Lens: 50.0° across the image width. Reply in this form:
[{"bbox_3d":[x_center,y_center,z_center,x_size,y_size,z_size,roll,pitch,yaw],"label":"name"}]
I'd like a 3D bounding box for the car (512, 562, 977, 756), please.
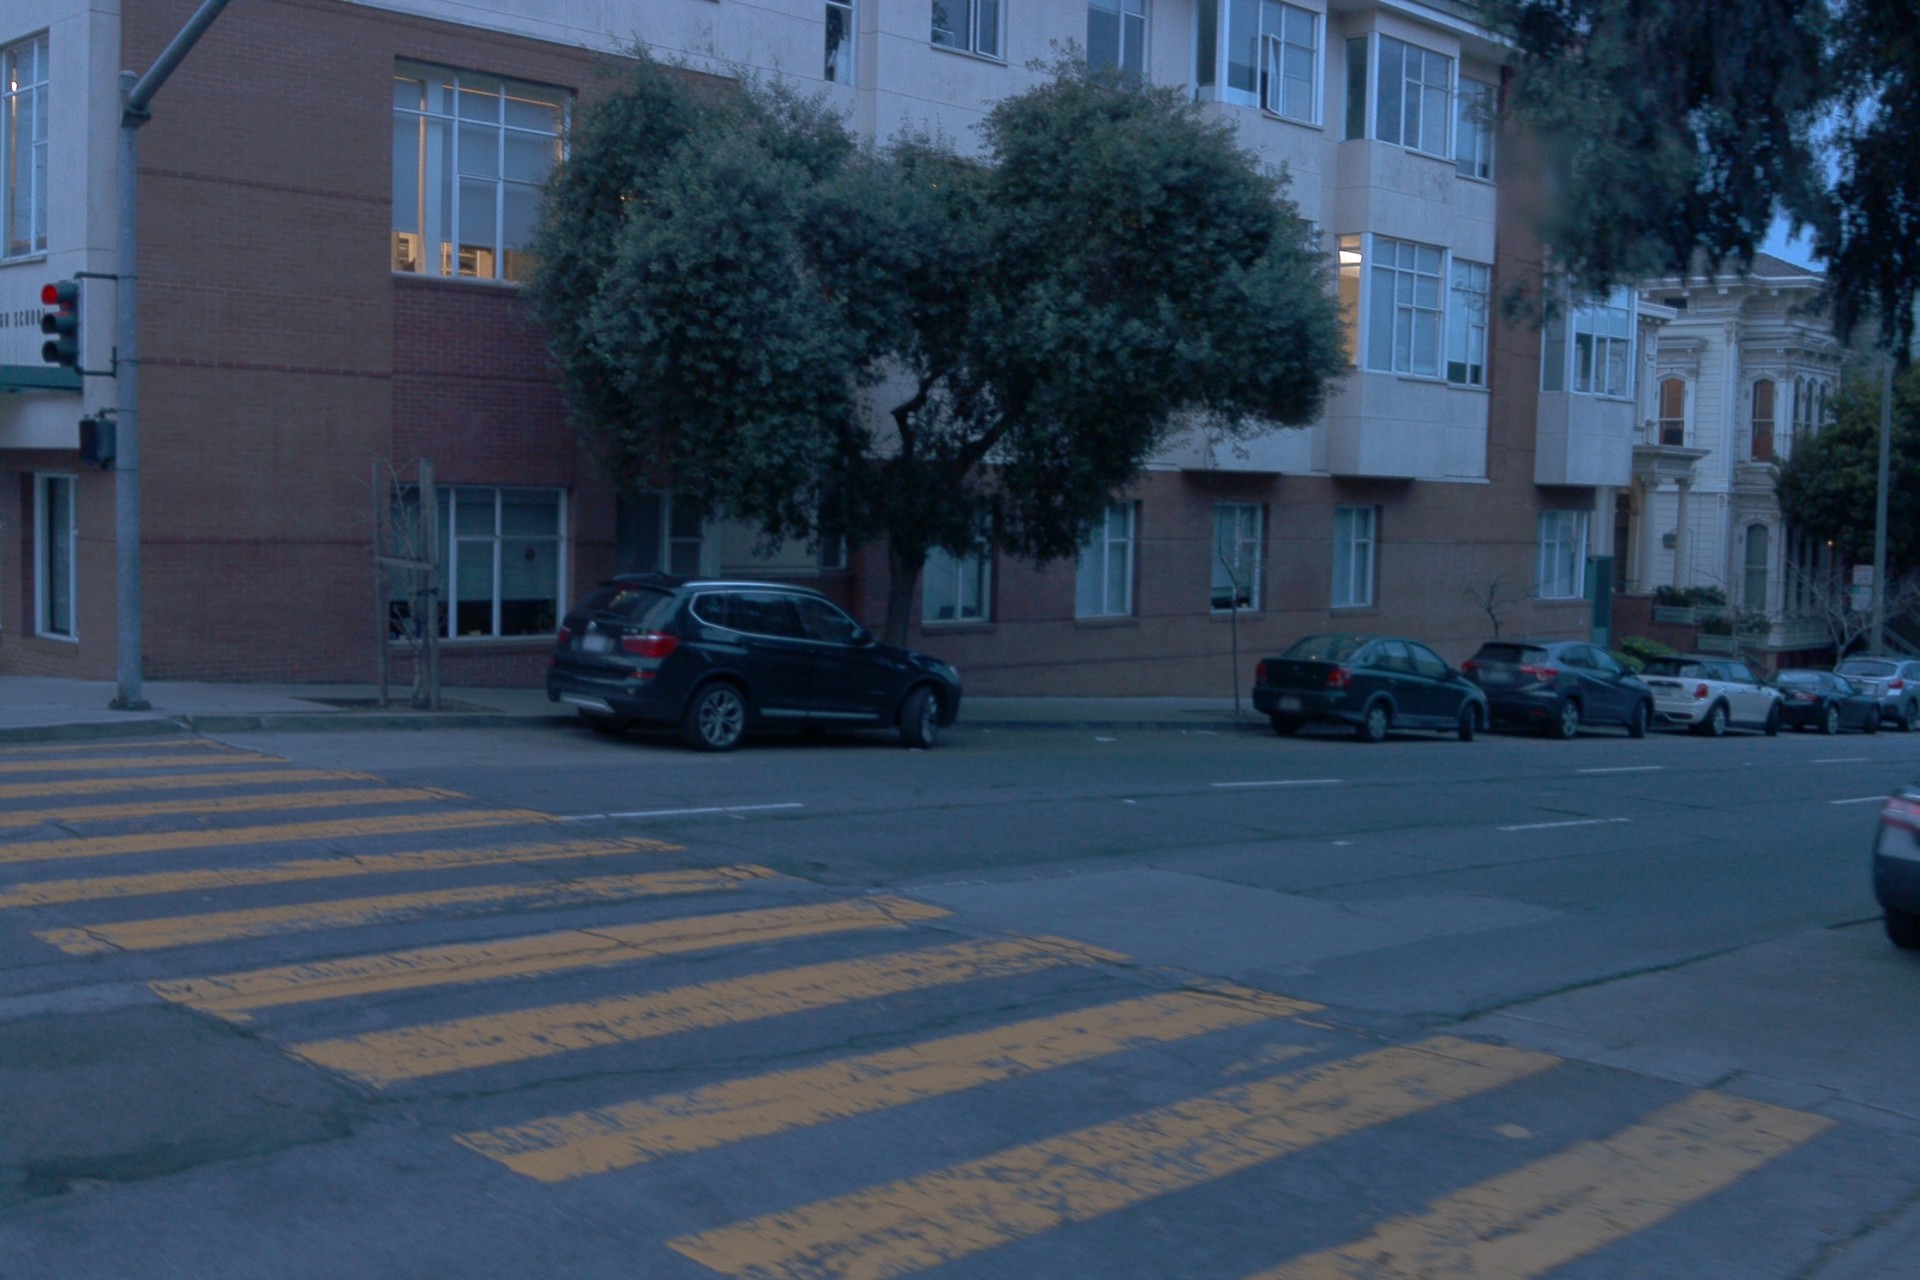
[{"bbox_3d":[-2.113,0.161,21.167,2.050,1.780,4.500,1,1,43],"label":"car"}]

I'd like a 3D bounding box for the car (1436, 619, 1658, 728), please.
[{"bbox_3d":[9.585,0.510,33.440,1.839,1.650,3.967,1,1,43],"label":"car"}]

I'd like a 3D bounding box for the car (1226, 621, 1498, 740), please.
[{"bbox_3d":[5.775,0.527,29.313,3.956,1.560,1.886,0,1,-45],"label":"car"}]
